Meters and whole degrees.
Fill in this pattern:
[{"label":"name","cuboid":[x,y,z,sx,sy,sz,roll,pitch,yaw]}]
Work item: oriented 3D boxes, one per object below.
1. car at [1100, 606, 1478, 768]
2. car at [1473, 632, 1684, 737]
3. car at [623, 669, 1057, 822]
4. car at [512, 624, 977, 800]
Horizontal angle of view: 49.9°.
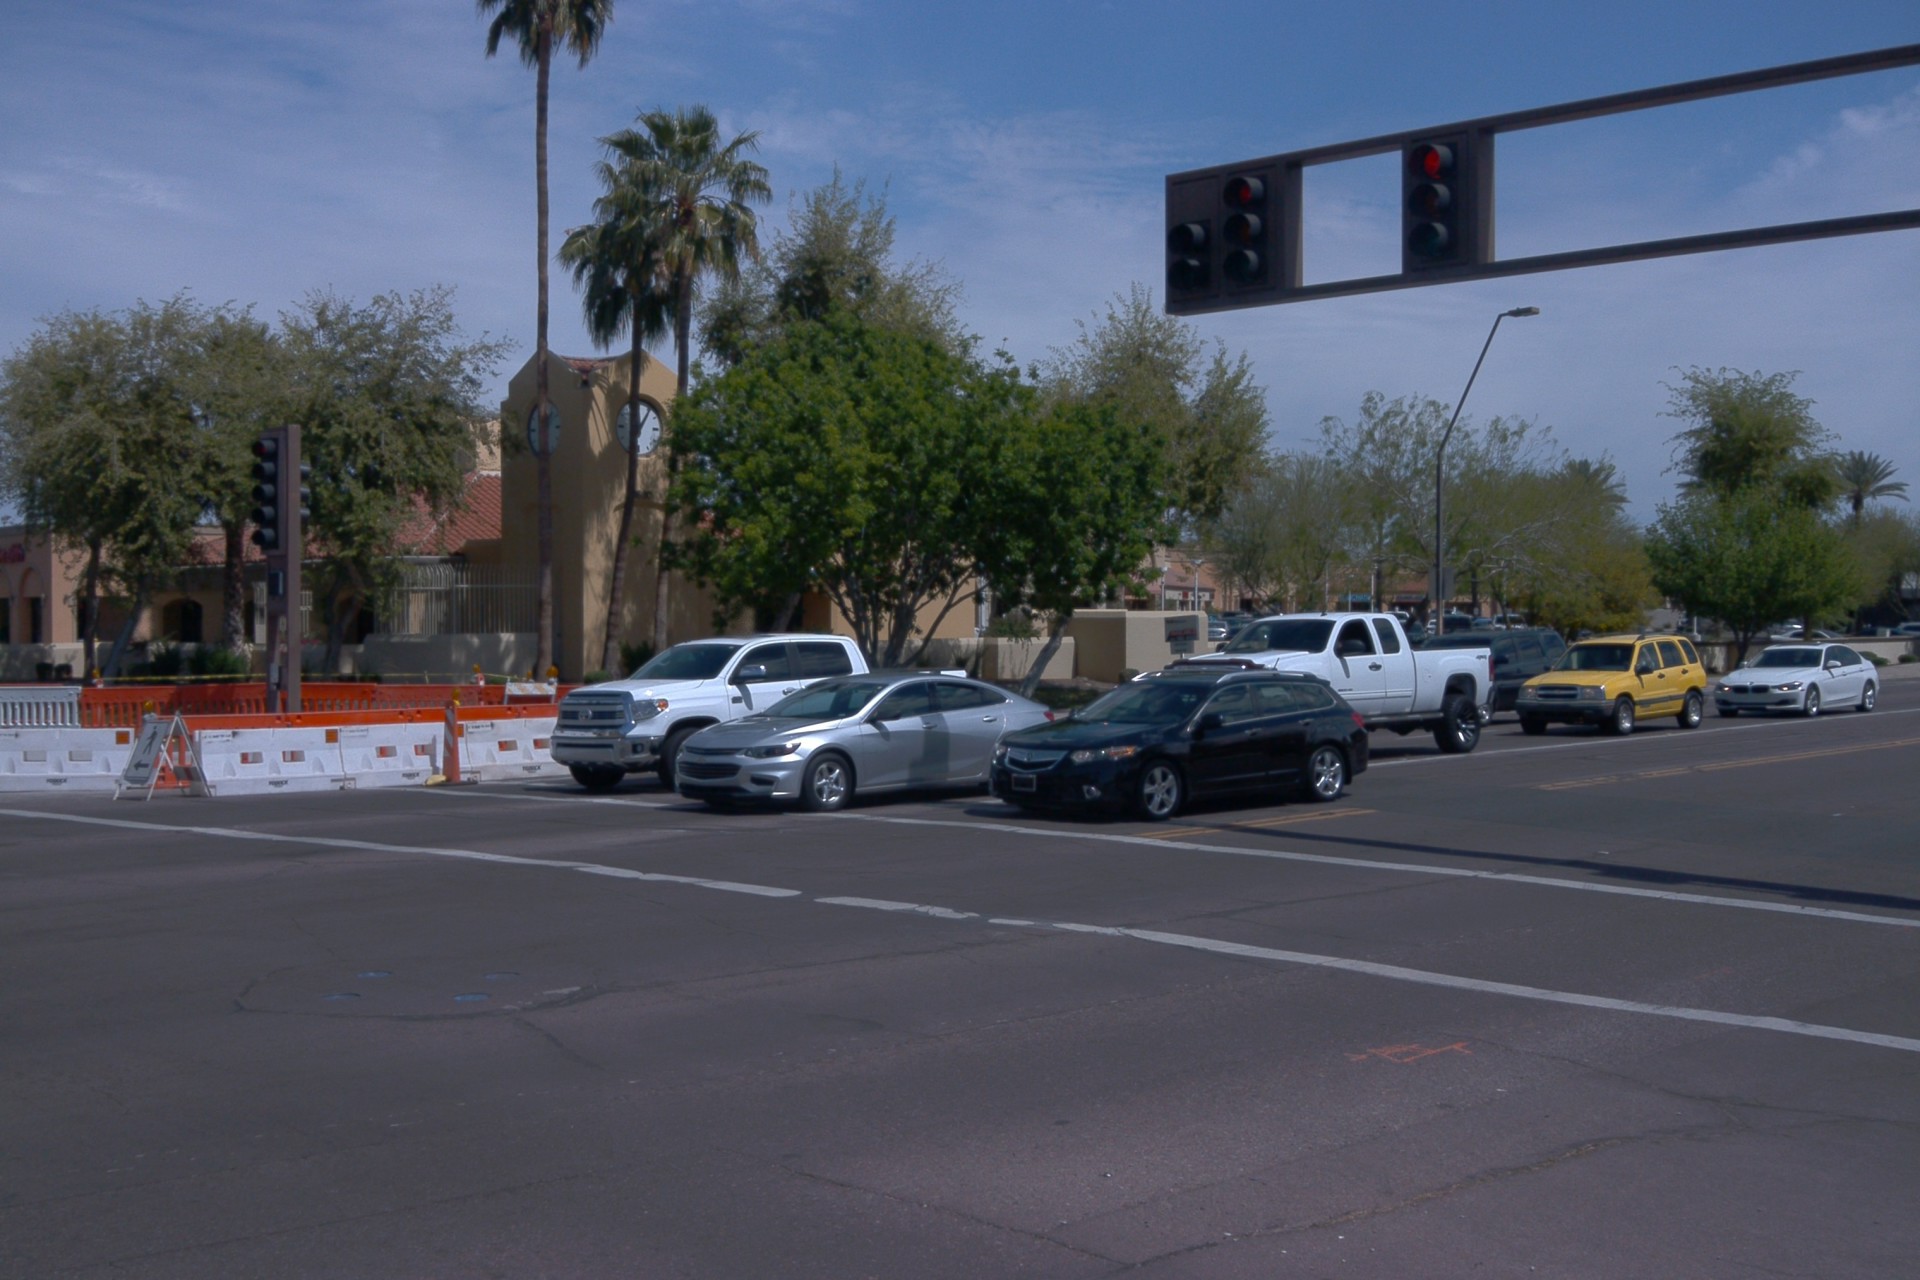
[{"label":"car","cuboid":[4.837,0.630,29.634,2.446,2.100,5.805,0,0,44]},{"label":"car","cuboid":[10.787,0.744,35.893,4.003,1.720,1.815,0,0,-45]},{"label":"car","cuboid":[-1.268,1.111,23.553,2.141,1.530,4.744,0,0,44]},{"label":"car","cuboid":[-2.678,0.858,27.046,2.455,2.050,5.851,0,0,44]}]
